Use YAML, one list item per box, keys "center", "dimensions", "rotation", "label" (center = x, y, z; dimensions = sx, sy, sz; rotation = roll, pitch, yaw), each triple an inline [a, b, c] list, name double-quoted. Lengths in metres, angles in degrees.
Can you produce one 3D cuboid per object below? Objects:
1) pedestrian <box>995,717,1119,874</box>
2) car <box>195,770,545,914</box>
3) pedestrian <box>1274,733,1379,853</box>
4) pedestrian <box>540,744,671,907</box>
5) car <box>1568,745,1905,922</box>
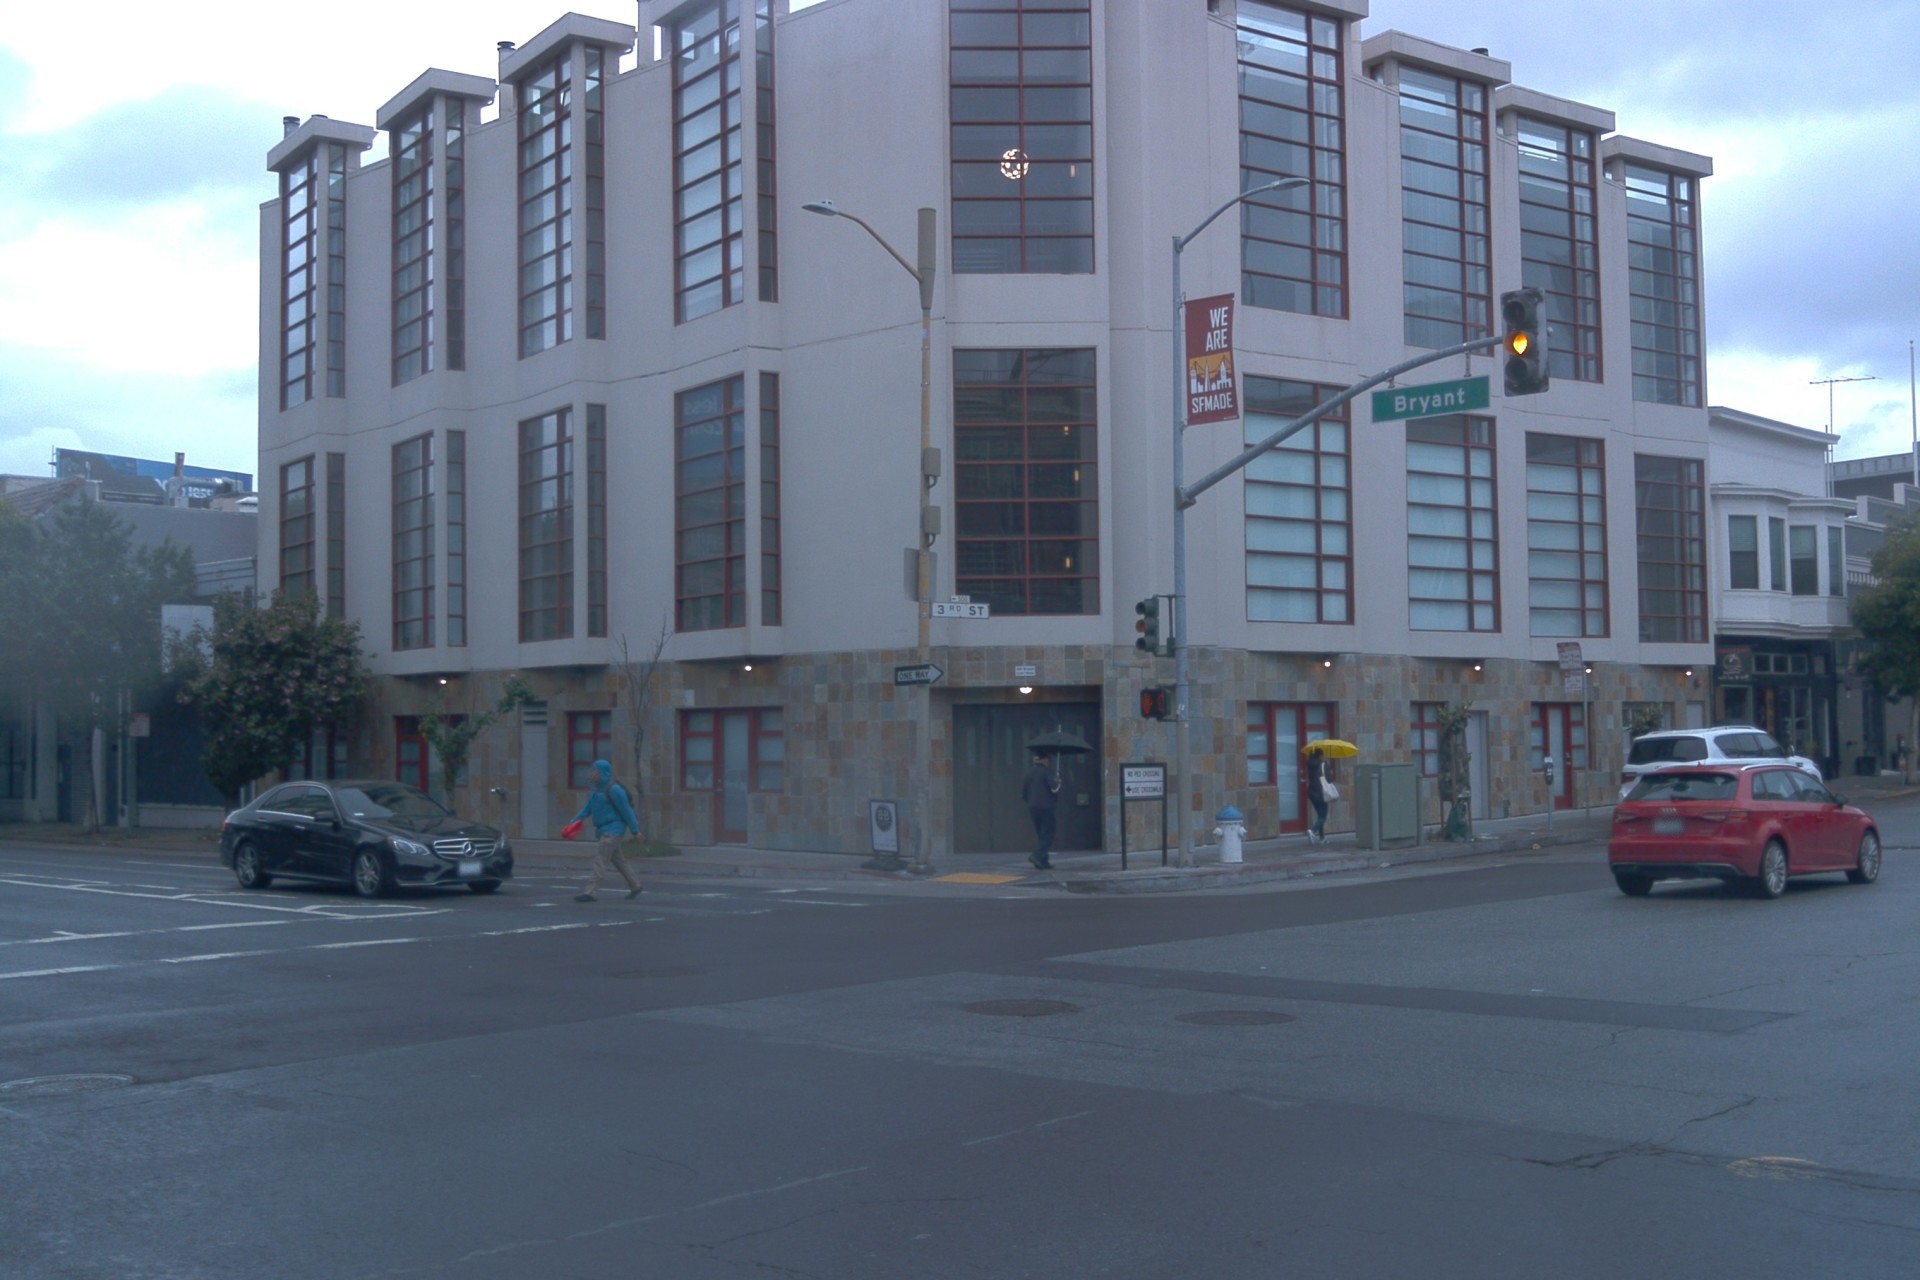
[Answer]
- center: [1.387, 2.180, 29.628]
  dimensions: [1.228, 2.110, 1.341]
  rotation: [0, 0, 36]
  label: "pedestrian"
- center: [-7.775, 2.555, 27.147]
  dimensions: [4.853, 1.410, 2.145]
  rotation: [0, 0, 42]
  label: "car"
- center: [6.042, 2.493, 34.270]
  dimensions: [1.362, 1.860, 1.137]
  rotation: [0, 0, -45]
  label: "pedestrian"
- center: [-4.233, 2.189, 24.869]
  dimensions: [0.924, 1.810, 1.235]
  rotation: [0, 0, 43]
  label: "pedestrian"
- center: [8.845, 2.089, 23.488]
  dimensions: [1.997, 1.570, 4.449]
  rotation: [0, 0, 43]
  label: "car"
